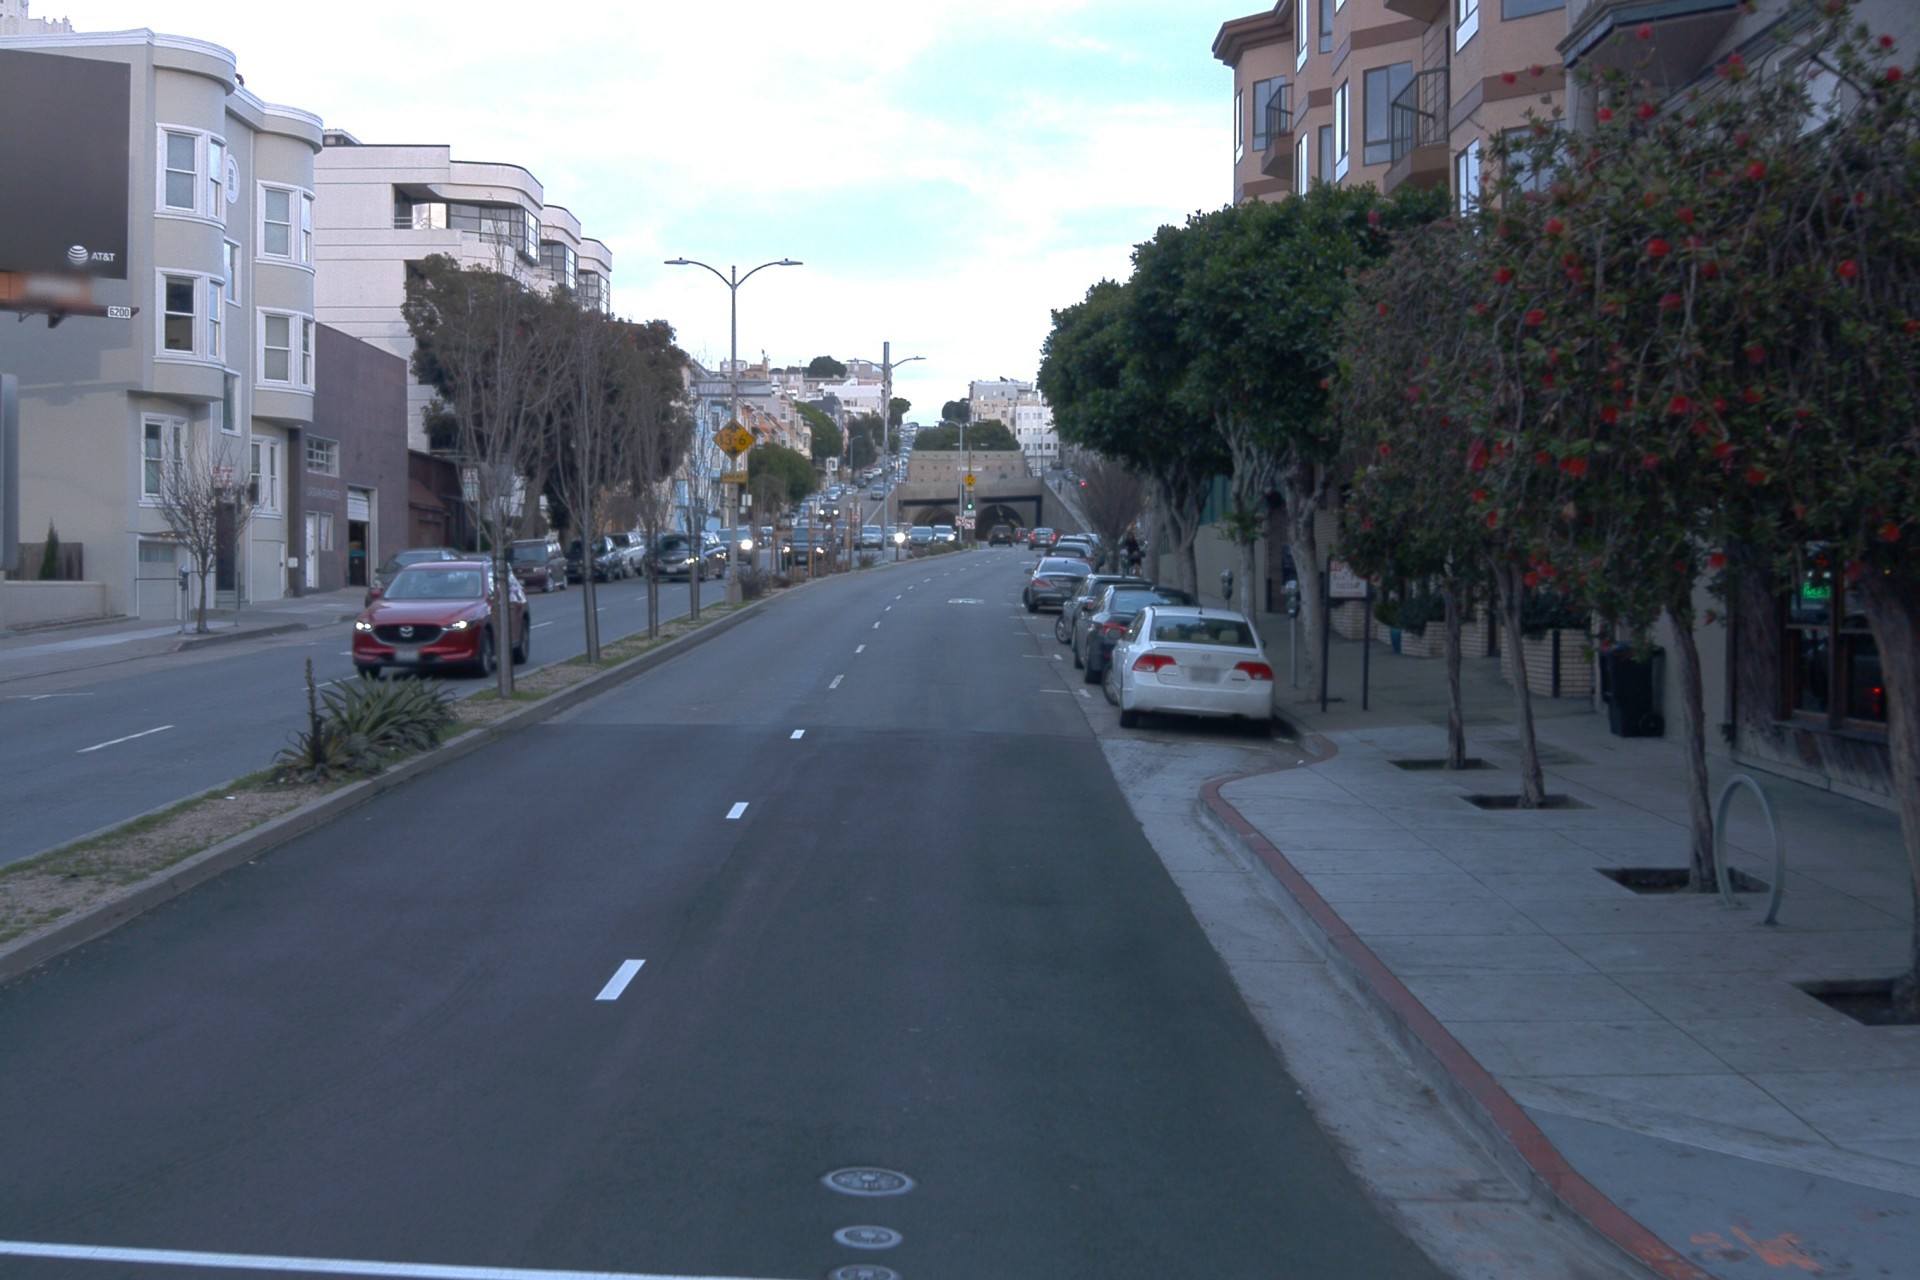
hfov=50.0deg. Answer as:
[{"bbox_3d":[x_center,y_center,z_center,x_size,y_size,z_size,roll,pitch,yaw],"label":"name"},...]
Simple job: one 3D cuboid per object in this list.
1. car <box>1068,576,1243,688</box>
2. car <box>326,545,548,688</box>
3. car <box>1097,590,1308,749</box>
[{"bbox_3d":[2.848,-0.138,31.120,2.151,1.530,5.003,1,1,0],"label":"car"},{"bbox_3d":[-7.595,-0.344,30.433,2.135,1.940,4.559,1,1,0],"label":"car"},{"bbox_3d":[2.846,0.301,25.236,2.061,1.750,4.614,1,1,1],"label":"car"}]
